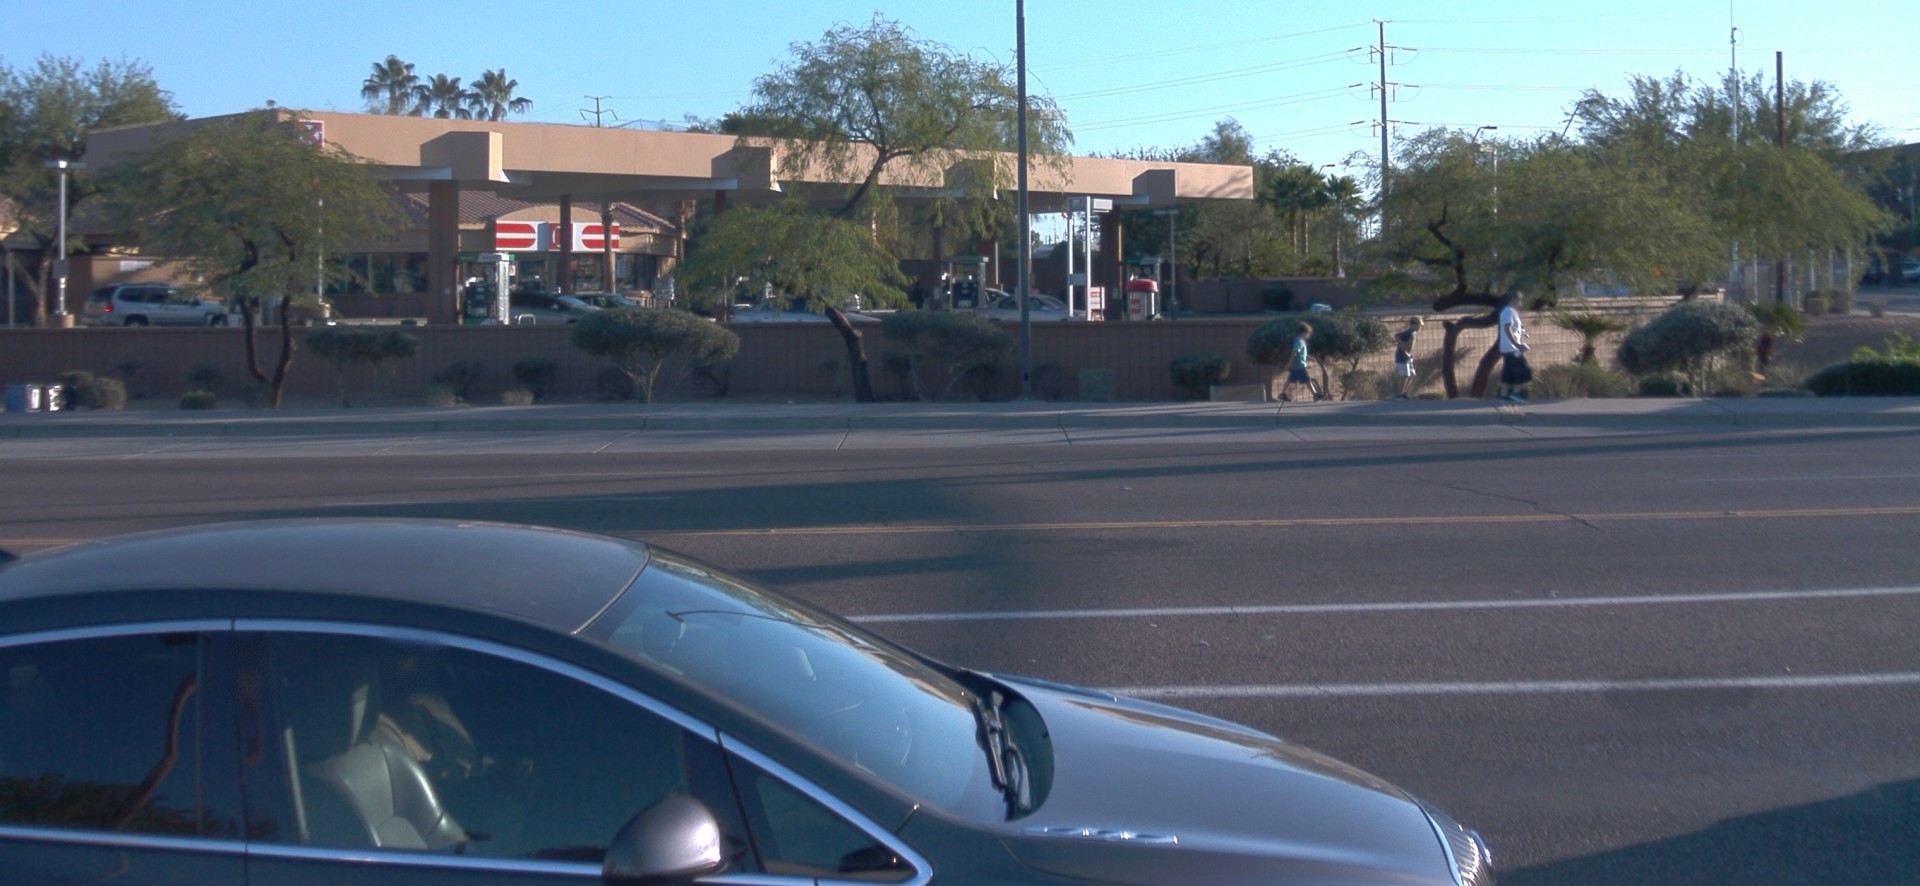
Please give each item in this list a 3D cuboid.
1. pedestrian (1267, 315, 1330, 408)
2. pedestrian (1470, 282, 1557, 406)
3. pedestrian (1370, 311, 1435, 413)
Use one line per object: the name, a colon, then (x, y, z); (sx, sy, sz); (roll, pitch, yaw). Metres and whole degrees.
pedestrian: (5.132, -1.246, 31.449); (0.912, 1.360, 0.780); (0, 1, 9)
pedestrian: (8.110, -1.467, 30.468); (1.149, 1.777, 0.864); (0, 1, 9)
pedestrian: (6.663, -1.237, 31.302); (0.905, 1.490, 0.827); (0, 1, 8)
